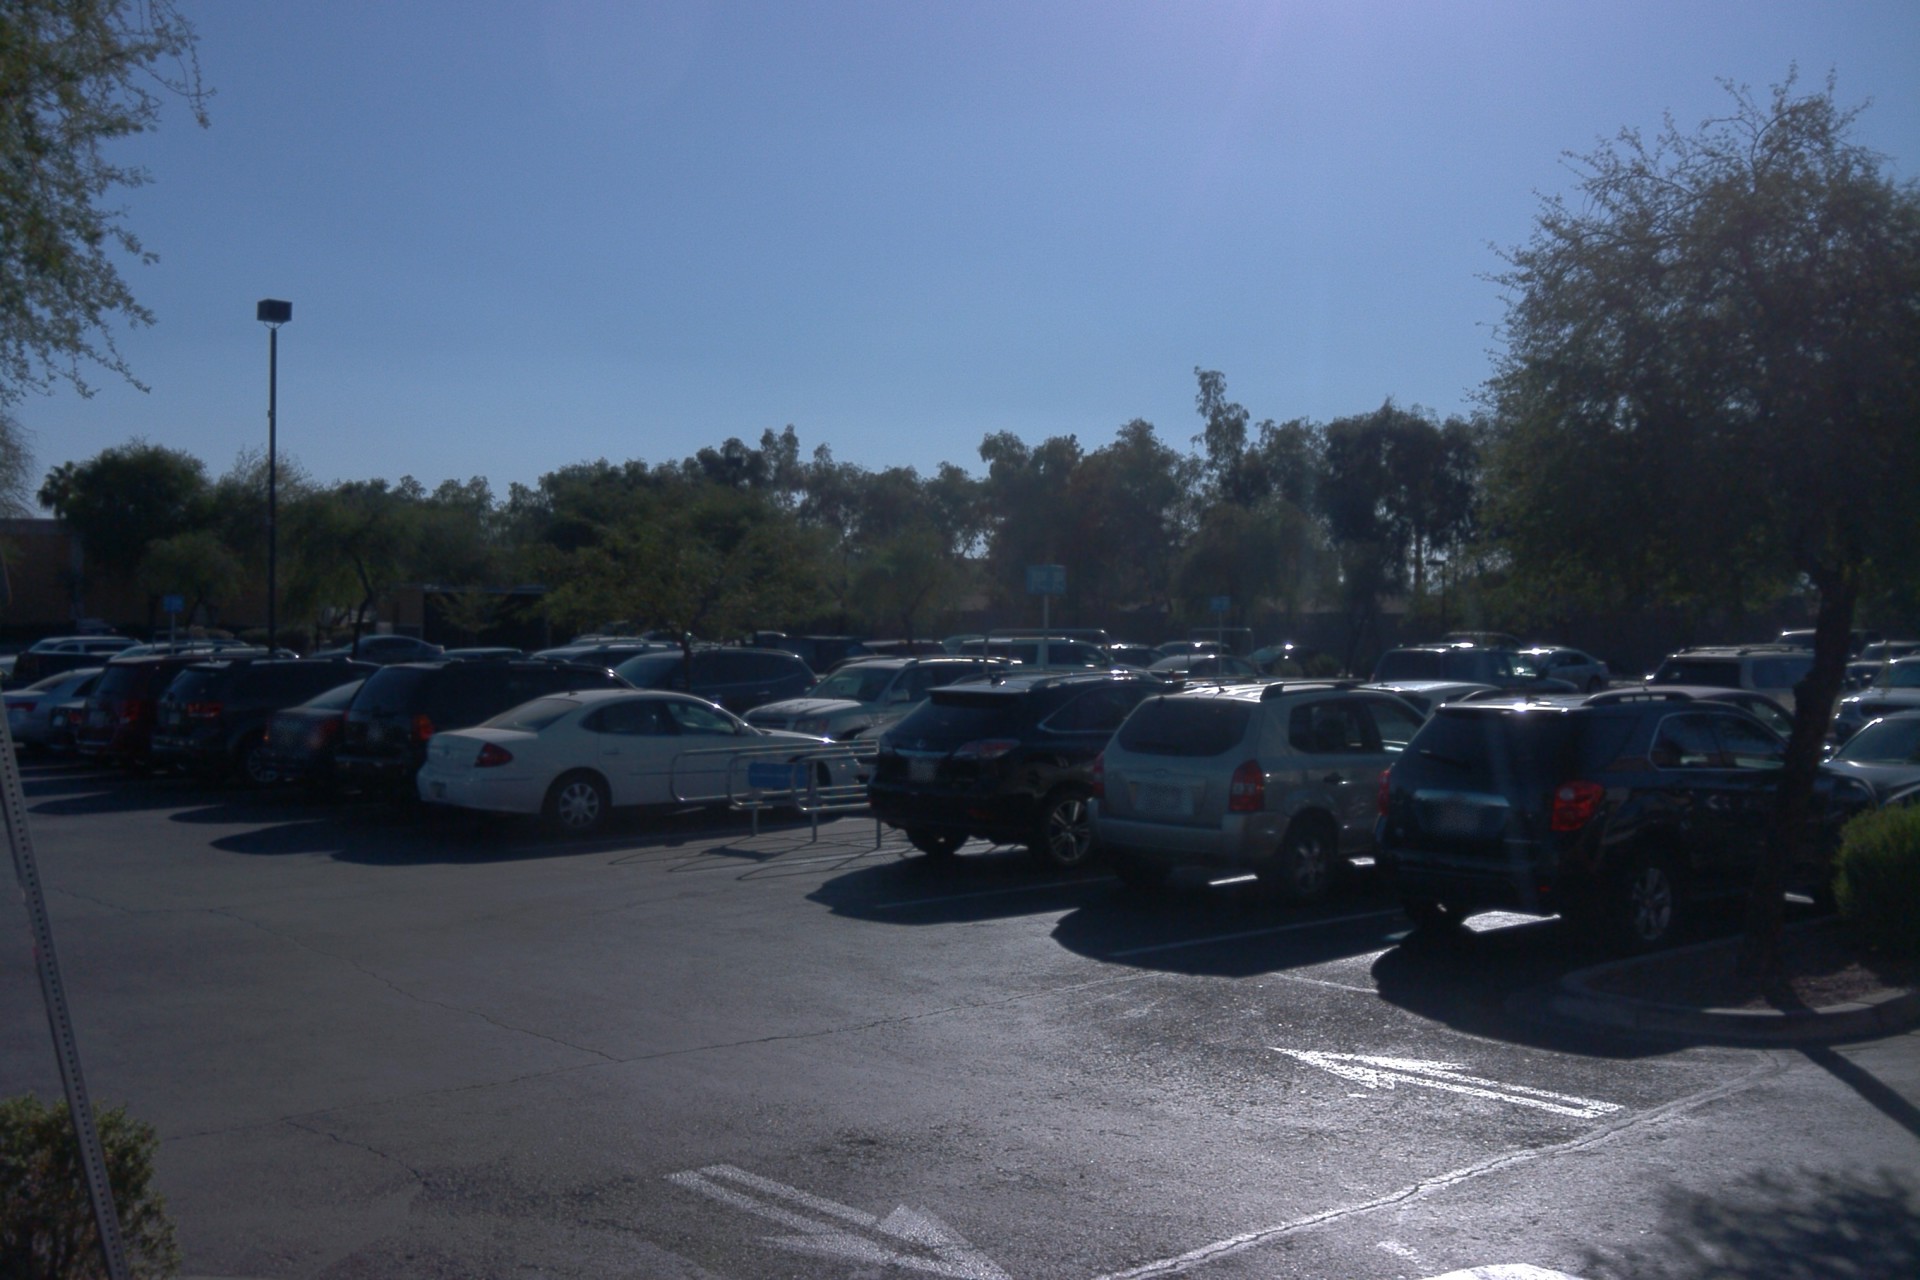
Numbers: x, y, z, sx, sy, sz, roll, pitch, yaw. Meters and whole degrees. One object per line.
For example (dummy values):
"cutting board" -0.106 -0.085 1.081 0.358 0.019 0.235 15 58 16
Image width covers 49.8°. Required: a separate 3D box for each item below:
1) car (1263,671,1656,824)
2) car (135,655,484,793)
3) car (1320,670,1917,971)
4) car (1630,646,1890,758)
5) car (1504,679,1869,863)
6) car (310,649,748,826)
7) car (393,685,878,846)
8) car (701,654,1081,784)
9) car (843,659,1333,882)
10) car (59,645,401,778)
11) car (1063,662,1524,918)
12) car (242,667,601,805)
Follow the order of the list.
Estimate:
"car" 5.702 1.133 23.289 4.641 1.540 1.969 1 -1 -41
"car" -8.757 1.081 28.023 4.134 1.720 1.806 1 -1 -43
"car" 4.893 1.144 14.996 4.663 1.830 1.995 1 -1 -41
"car" 13.027 0.967 33.530 4.588 1.690 1.921 1 -1 -39
"car" 7.602 1.268 21.469 4.012 1.690 1.903 1 -1 -42
"car" -5.017 1.071 24.449 4.580 1.890 2.196 1 -1 -43
"car" -3.406 1.266 22.388 4.892 1.510 1.978 1 -1 -42
"car" -0.857 1.024 28.452 2.222 1.620 5.086 0 -1 45
"car" 1.292 1.114 19.396 4.517 1.850 1.910 1 -1 -40
"car" -10.636 1.001 30.300 4.296 1.810 1.956 1 -1 -43
"car" 2.851 1.125 17.145 1.863 1.860 3.881 0 -1 45
"car" -6.793 1.161 26.316 4.039 1.610 1.815 1 -1 -43
